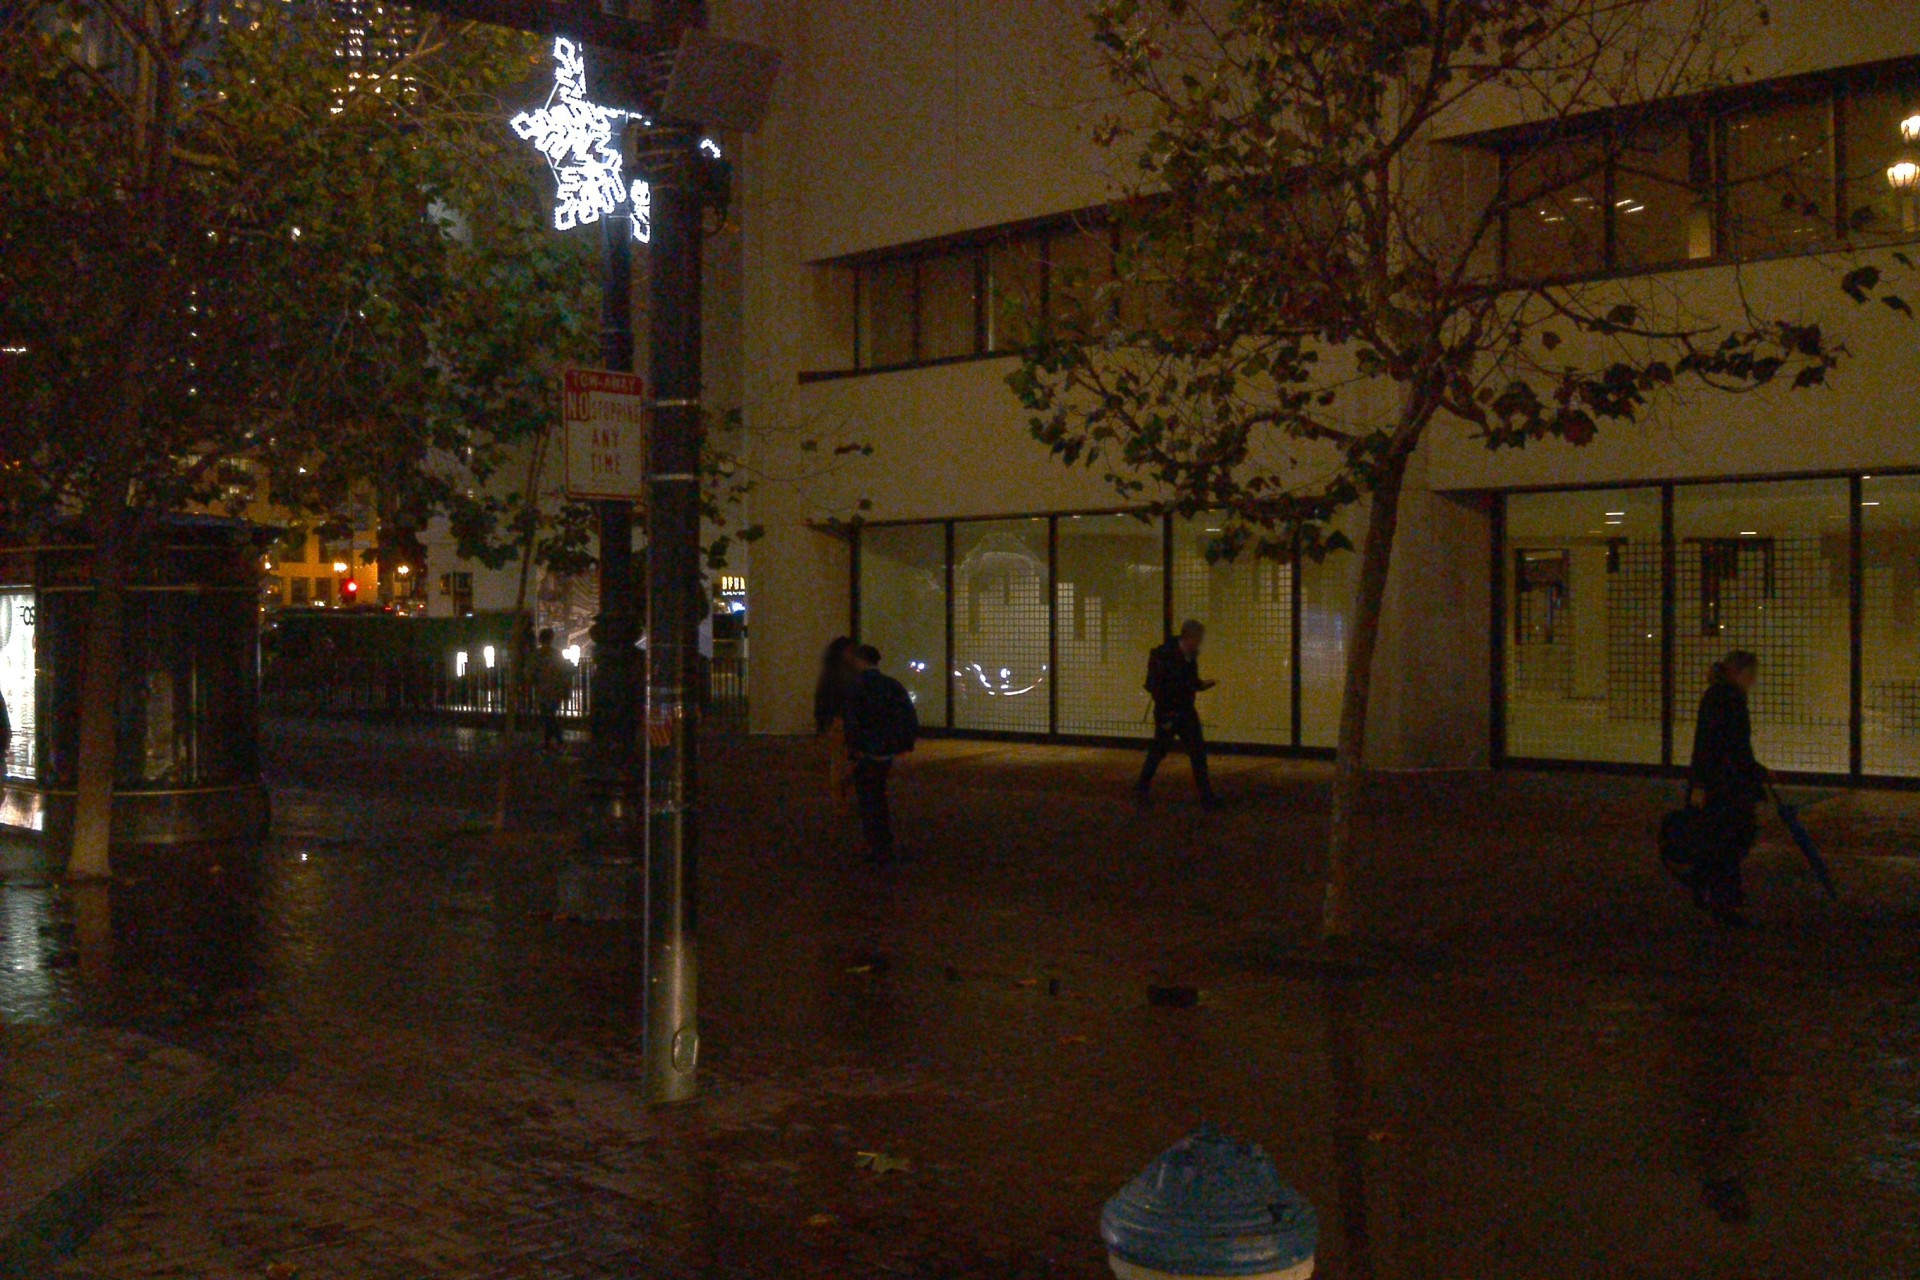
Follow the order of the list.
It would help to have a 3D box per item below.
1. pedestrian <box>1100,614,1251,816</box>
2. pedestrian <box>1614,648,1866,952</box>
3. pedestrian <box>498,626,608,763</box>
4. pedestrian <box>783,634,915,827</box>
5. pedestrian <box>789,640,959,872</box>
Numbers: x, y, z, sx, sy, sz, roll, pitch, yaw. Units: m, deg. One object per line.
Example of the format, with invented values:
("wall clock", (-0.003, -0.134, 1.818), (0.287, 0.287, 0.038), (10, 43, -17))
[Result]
("pedestrian", (2.017, 0.681, 19.239), (0.841, 1.830, 1.114), (1, 0, -42))
("pedestrian", (4.782, 0.930, 12.583), (0.966, 1.750, 1.094), (1, 0, -38))
("pedestrian", (-5.116, 0.665, 25.749), (0.918, 1.670, 1.061), (1, 0, -42))
("pedestrian", (-1.060, 0.835, 19.509), (1.050, 1.780, 0.729), (0, 0, 44))
("pedestrian", (-0.694, 0.894, 16.455), (0.860, 1.780, 1.104), (1, 0, -39))
